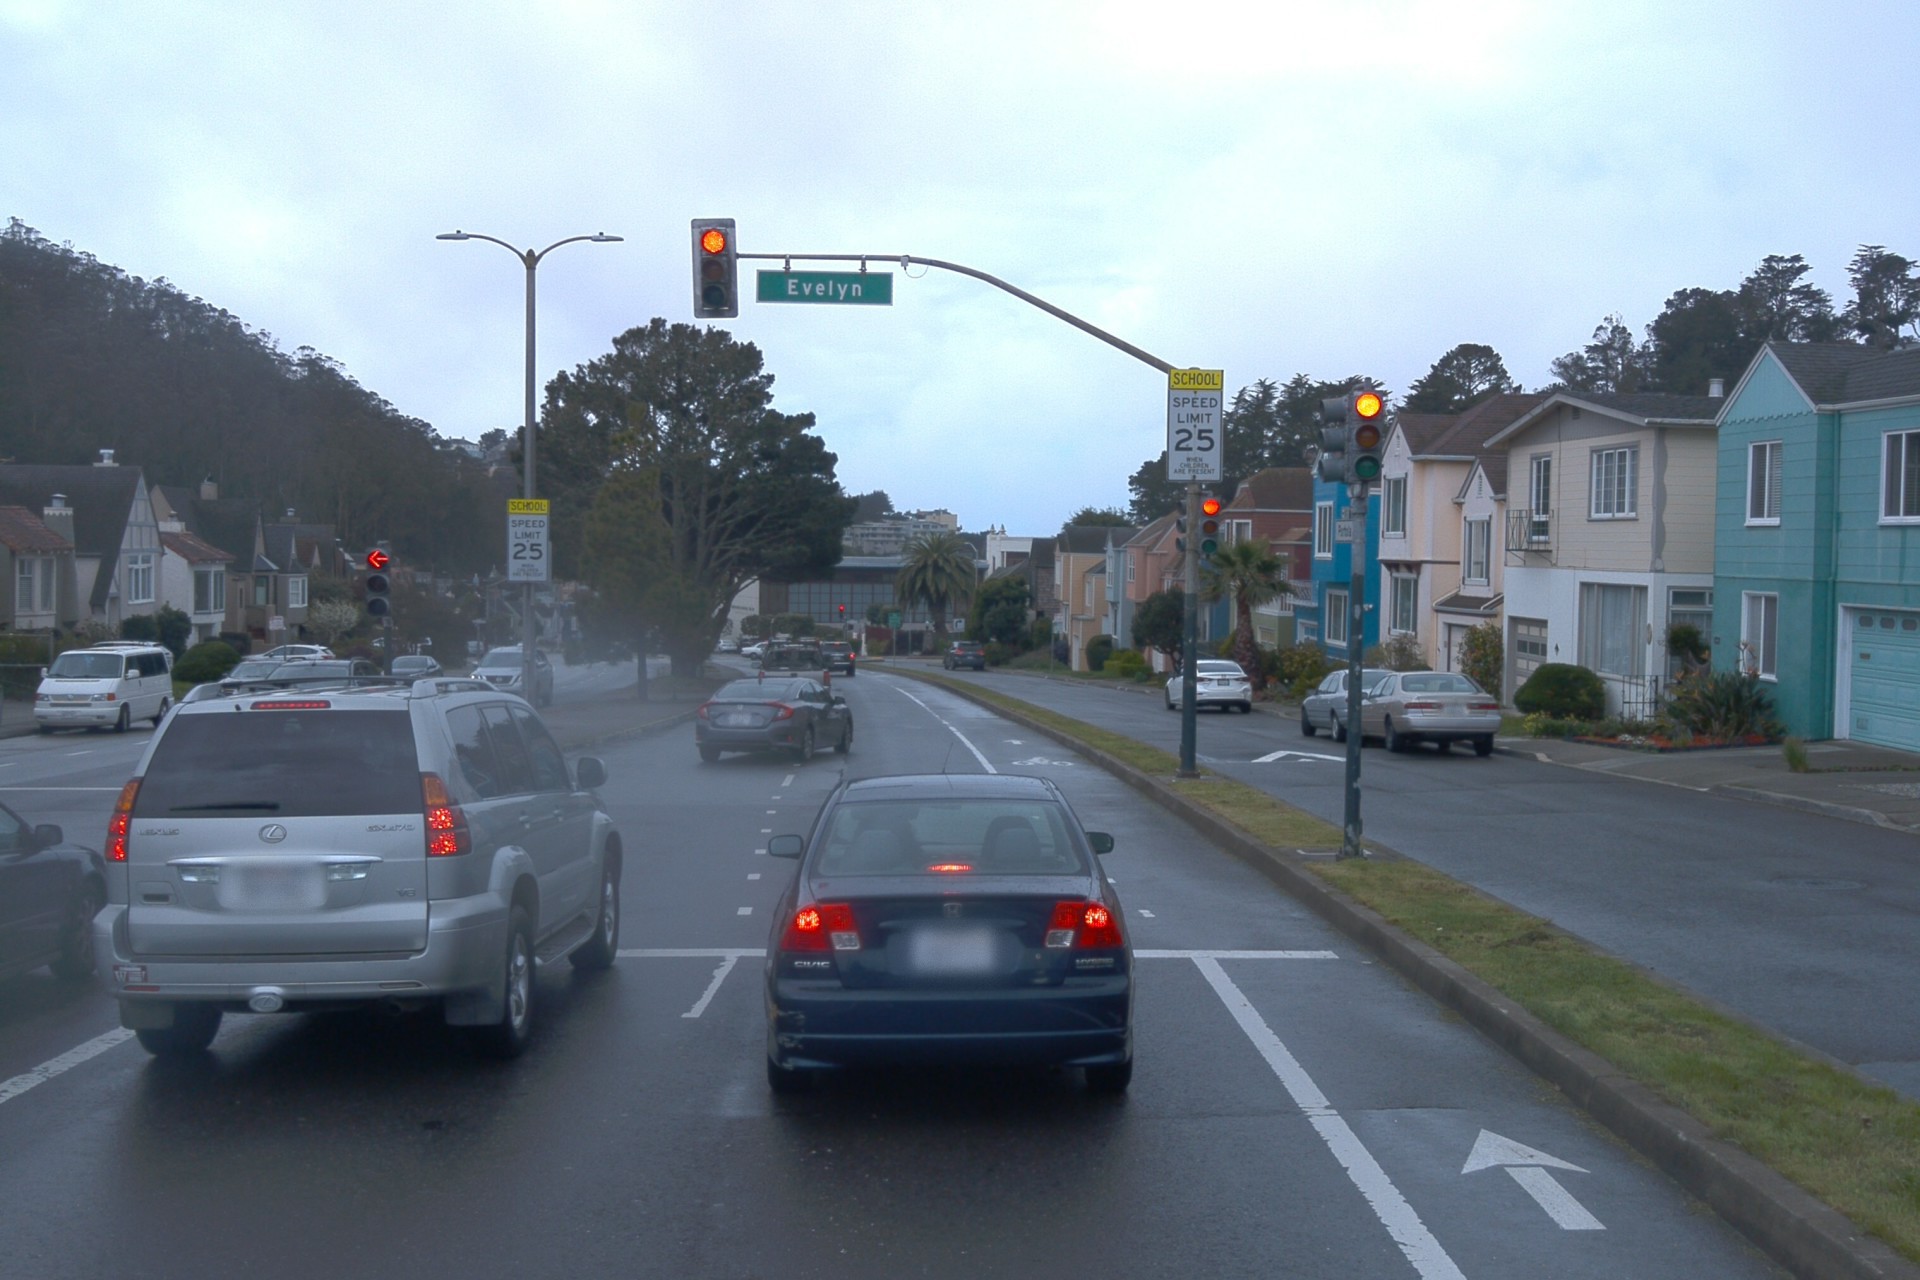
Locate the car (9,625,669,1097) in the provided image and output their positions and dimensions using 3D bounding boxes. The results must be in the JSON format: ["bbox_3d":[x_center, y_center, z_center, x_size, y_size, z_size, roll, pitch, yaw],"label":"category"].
[{"bbox_3d":[-3.060,0.969,11.417,2.249,2.070,4.734,0,0,0],"label":"car"}]

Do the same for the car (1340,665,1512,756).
[{"bbox_3d":[8.081,1.193,36.133,1.755,1.440,4.469,0,0,-4],"label":"car"}]

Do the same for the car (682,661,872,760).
[{"bbox_3d":[-3.021,1.136,35.176,1.970,1.520,4.733,0,0,11],"label":"car"}]

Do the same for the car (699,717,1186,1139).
[{"bbox_3d":[-0.112,1.261,10.557,2.004,1.570,4.164,0,0,-1],"label":"car"}]
